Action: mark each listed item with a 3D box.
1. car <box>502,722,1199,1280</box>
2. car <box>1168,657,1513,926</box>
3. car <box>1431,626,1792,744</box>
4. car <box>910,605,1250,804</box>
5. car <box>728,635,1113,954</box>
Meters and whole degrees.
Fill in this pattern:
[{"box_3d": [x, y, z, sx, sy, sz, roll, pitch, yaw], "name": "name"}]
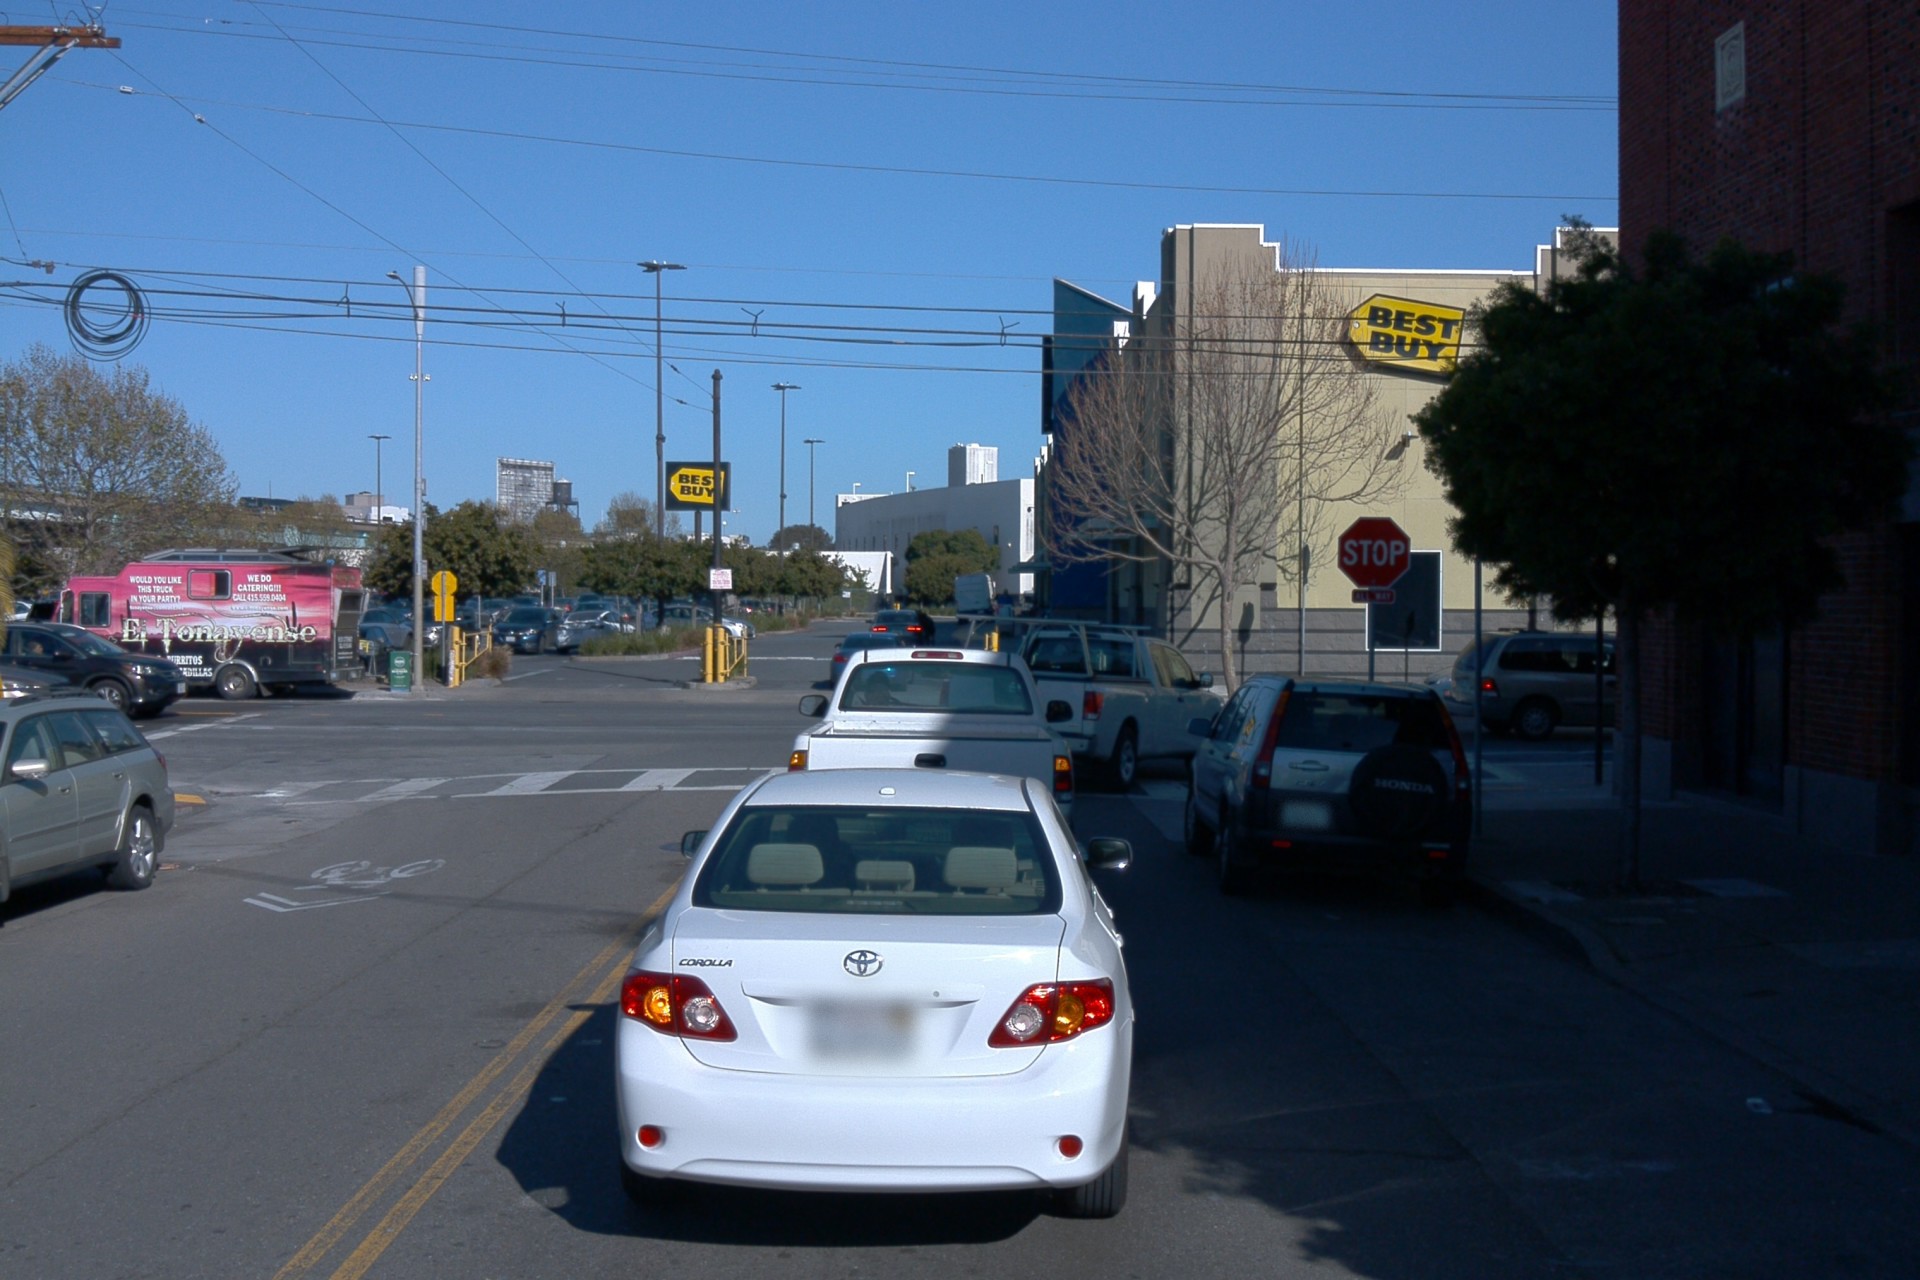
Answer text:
[{"box_3d": [-0.276, 1.266, 8.349, 2.045, 1.580, 4.504, 1, 1, 1], "name": "car"}, {"box_3d": [2.859, 1.071, 16.449, 2.017, 1.730, 4.285, 1, 1, 1], "name": "car"}, {"box_3d": [10.507, 0.704, 33.380, 5.166, 1.770, 2.031, 1, 1, -5], "name": "car"}, {"box_3d": [1.662, 0.678, 25.536, 2.388, 2.140, 5.551, 1, 1, 24], "name": "car"}, {"box_3d": [-0.240, 0.961, 15.674, 2.386, 1.880, 5.557, 1, 1, 0], "name": "car"}]
